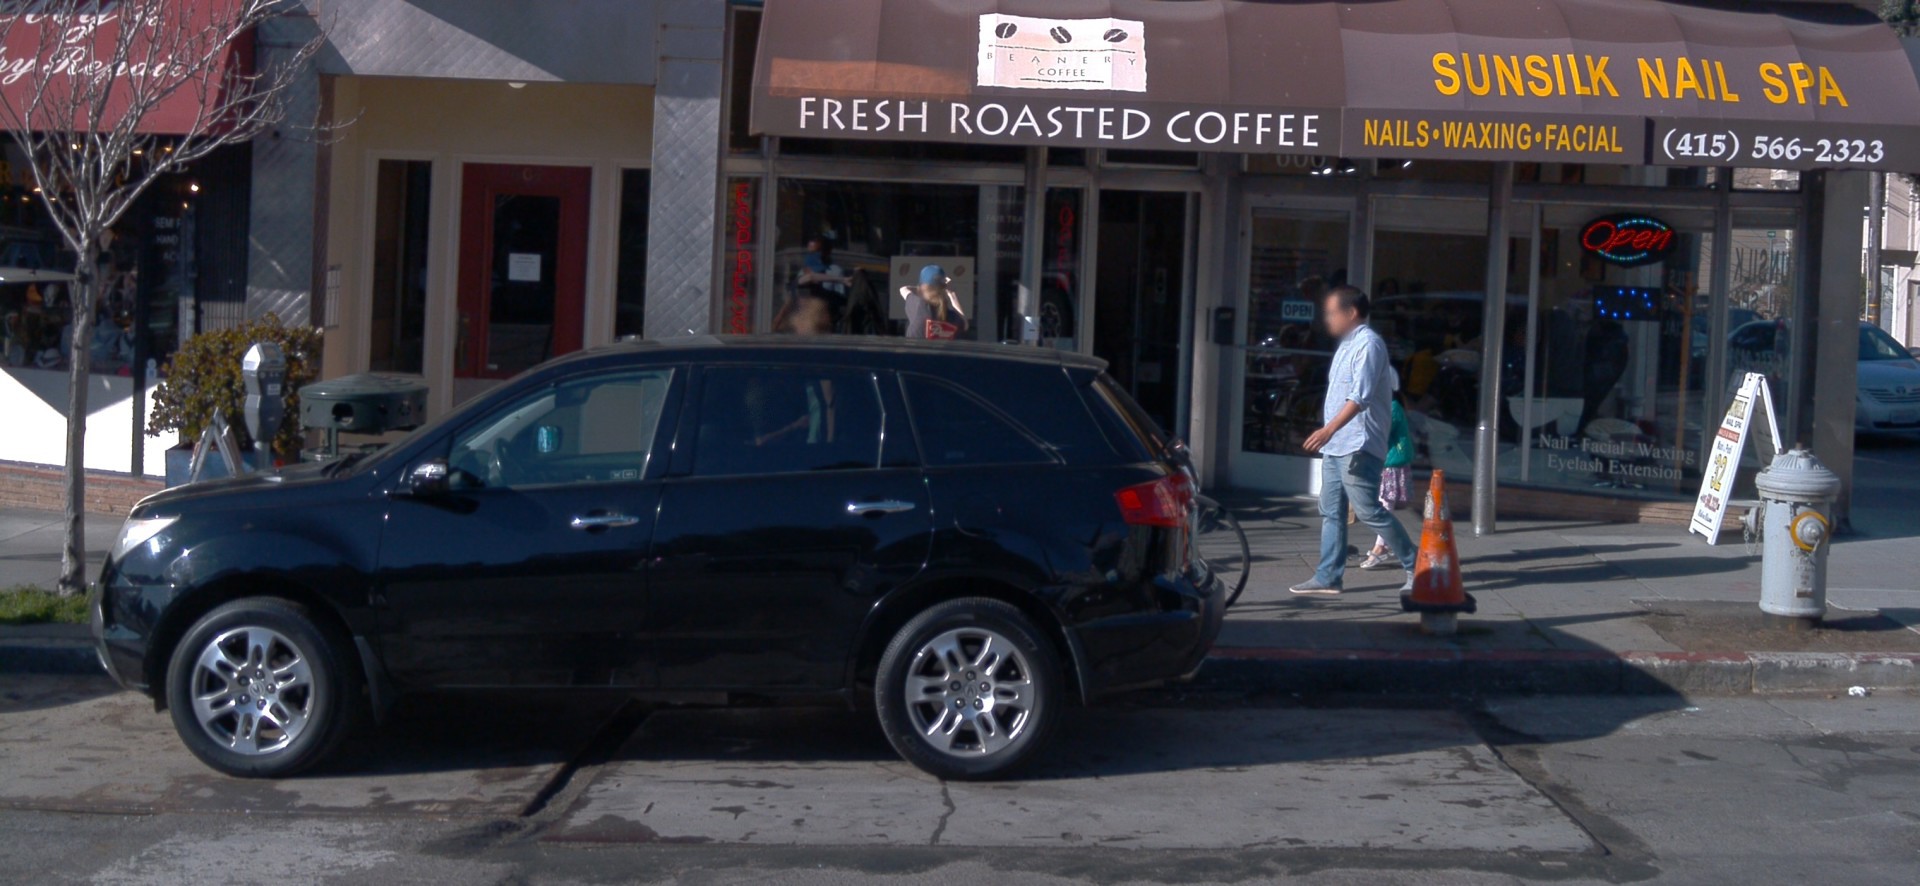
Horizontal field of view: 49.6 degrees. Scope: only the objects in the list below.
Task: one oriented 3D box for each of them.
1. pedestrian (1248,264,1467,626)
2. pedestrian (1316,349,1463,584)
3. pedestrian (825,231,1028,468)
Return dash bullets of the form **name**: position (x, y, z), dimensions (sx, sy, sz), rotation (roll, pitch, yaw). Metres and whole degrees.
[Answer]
- **pedestrian**: position (2.184, -0.032, 11.559), dimensions (0.995, 1.885, 1.032), rotation (1, 2, -1)
- **pedestrian**: position (2.545, 0.124, 12.359), dimensions (0.720, 1.307, 0.671), rotation (1, 2, -1)
- **pedestrian**: position (-0.245, -0.661, 13.796), dimensions (0.883, 1.456, 1.338), rotation (0, 4, -24)
